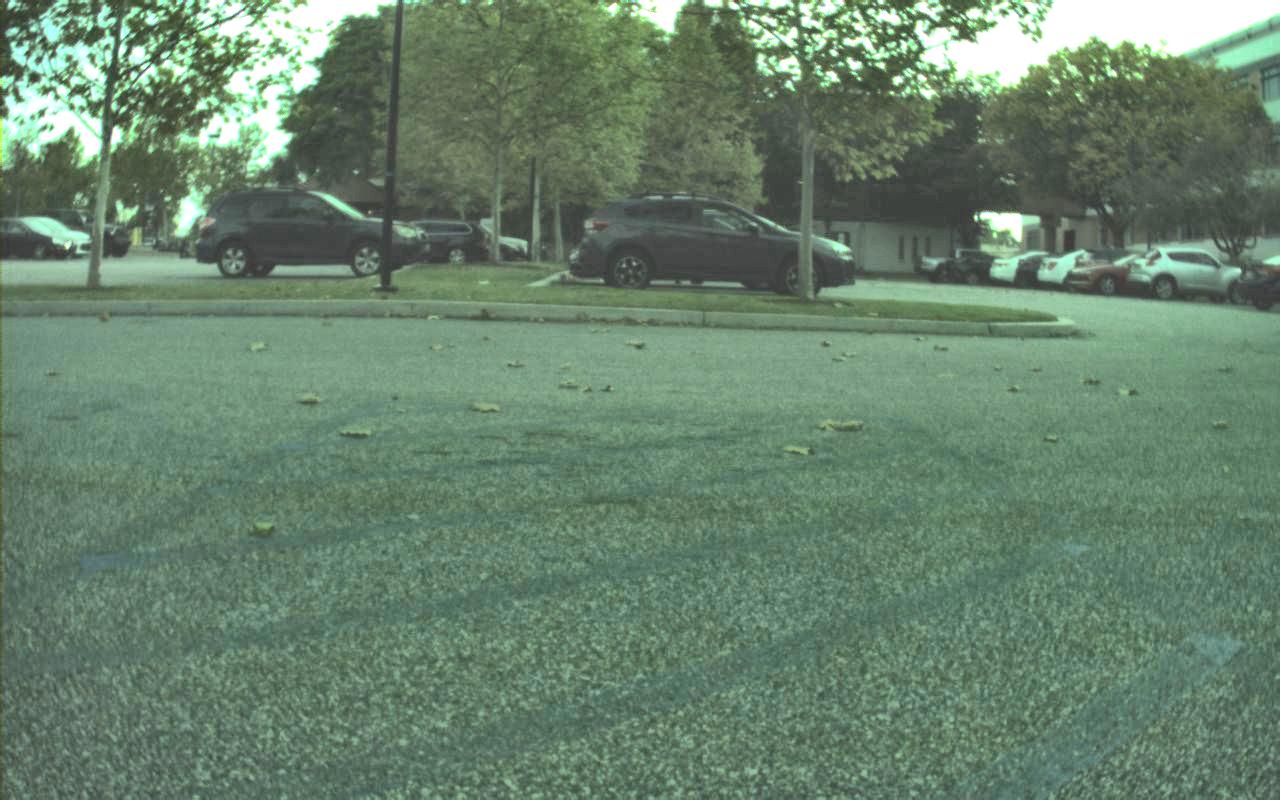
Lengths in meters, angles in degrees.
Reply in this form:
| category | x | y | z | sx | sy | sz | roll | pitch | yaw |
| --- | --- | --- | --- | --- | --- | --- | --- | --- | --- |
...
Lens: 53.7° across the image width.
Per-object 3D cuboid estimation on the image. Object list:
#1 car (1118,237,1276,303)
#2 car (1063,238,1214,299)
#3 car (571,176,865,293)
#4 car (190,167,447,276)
| category | x | y | z | sx | sy | sz | roll | pitch | yaw |
| --- | --- | --- | --- | --- | --- | --- | --- | --- | --- |
| car | 16.148 | -3.663 | 33.559 | 4.492 | 1.631 | 1.958 | 1 | 1 | 3 |
| car | 15.323 | -3.942 | 36.266 | 4.503 | 1.631 | 1.971 | 1 | 1 | 3 |
| car | 1.191 | -2.631 | 20.290 | 4.567 | 1.634 | 1.951 | 0 | 1 | -3 |
| car | -6.104 | -3.325 | 23.206 | 4.645 | 1.792 | 2.007 | 0 | 1 | -1 |
